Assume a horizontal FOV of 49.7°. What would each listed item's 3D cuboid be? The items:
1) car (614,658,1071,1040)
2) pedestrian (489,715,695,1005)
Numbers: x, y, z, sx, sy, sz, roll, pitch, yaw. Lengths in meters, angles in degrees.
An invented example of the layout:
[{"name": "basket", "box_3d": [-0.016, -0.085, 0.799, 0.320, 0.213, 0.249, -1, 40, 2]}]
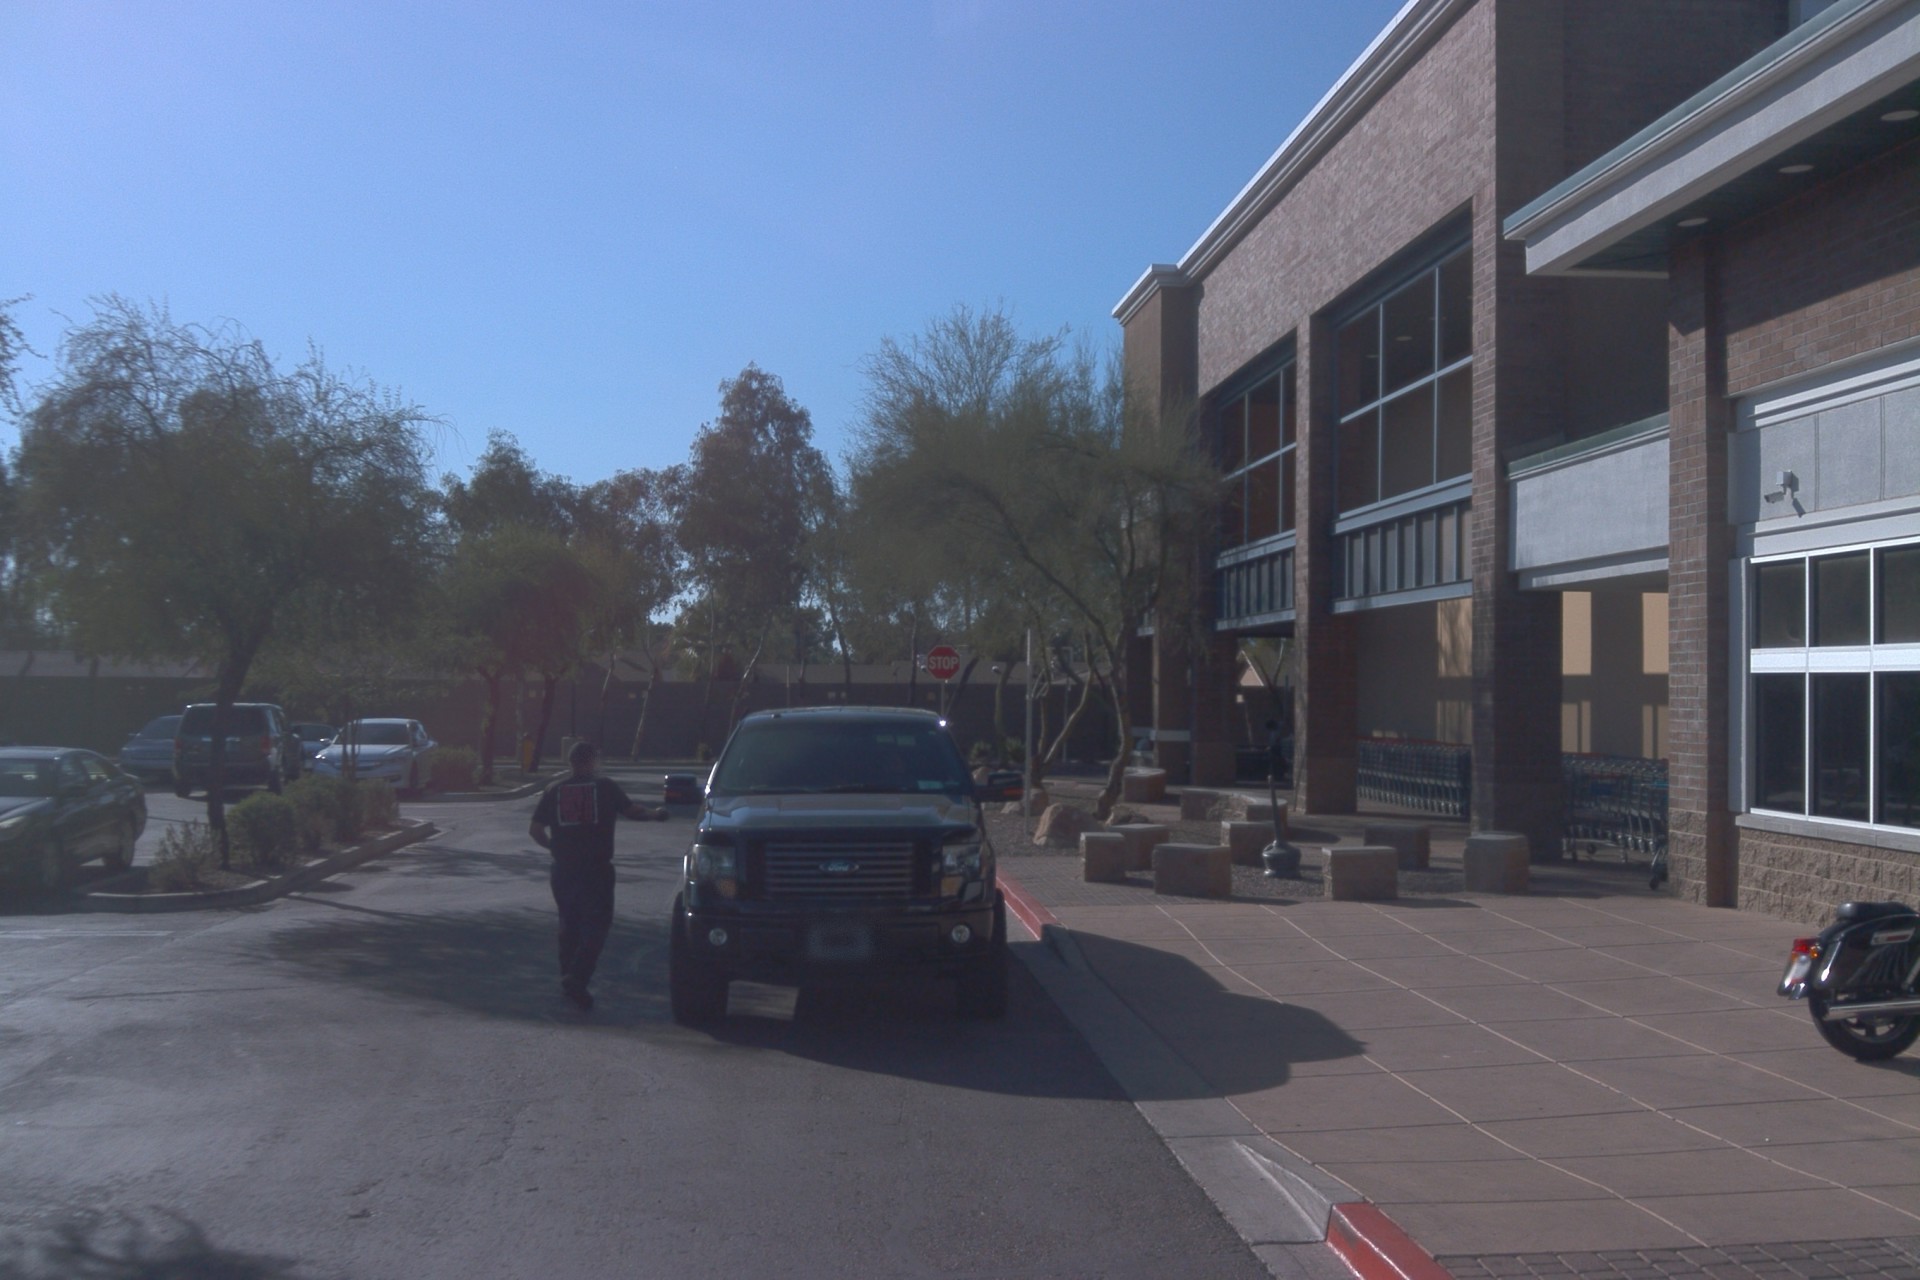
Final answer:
[{"name": "car", "box_3d": [-0.897, 1.281, 14.957, 2.652, 2.190, 5.671, 0, -1, -4]}, {"name": "pedestrian", "box_3d": [-2.490, 1.462, 14.193, 1.077, 1.870, 1.182, -1, -1, 7]}]
